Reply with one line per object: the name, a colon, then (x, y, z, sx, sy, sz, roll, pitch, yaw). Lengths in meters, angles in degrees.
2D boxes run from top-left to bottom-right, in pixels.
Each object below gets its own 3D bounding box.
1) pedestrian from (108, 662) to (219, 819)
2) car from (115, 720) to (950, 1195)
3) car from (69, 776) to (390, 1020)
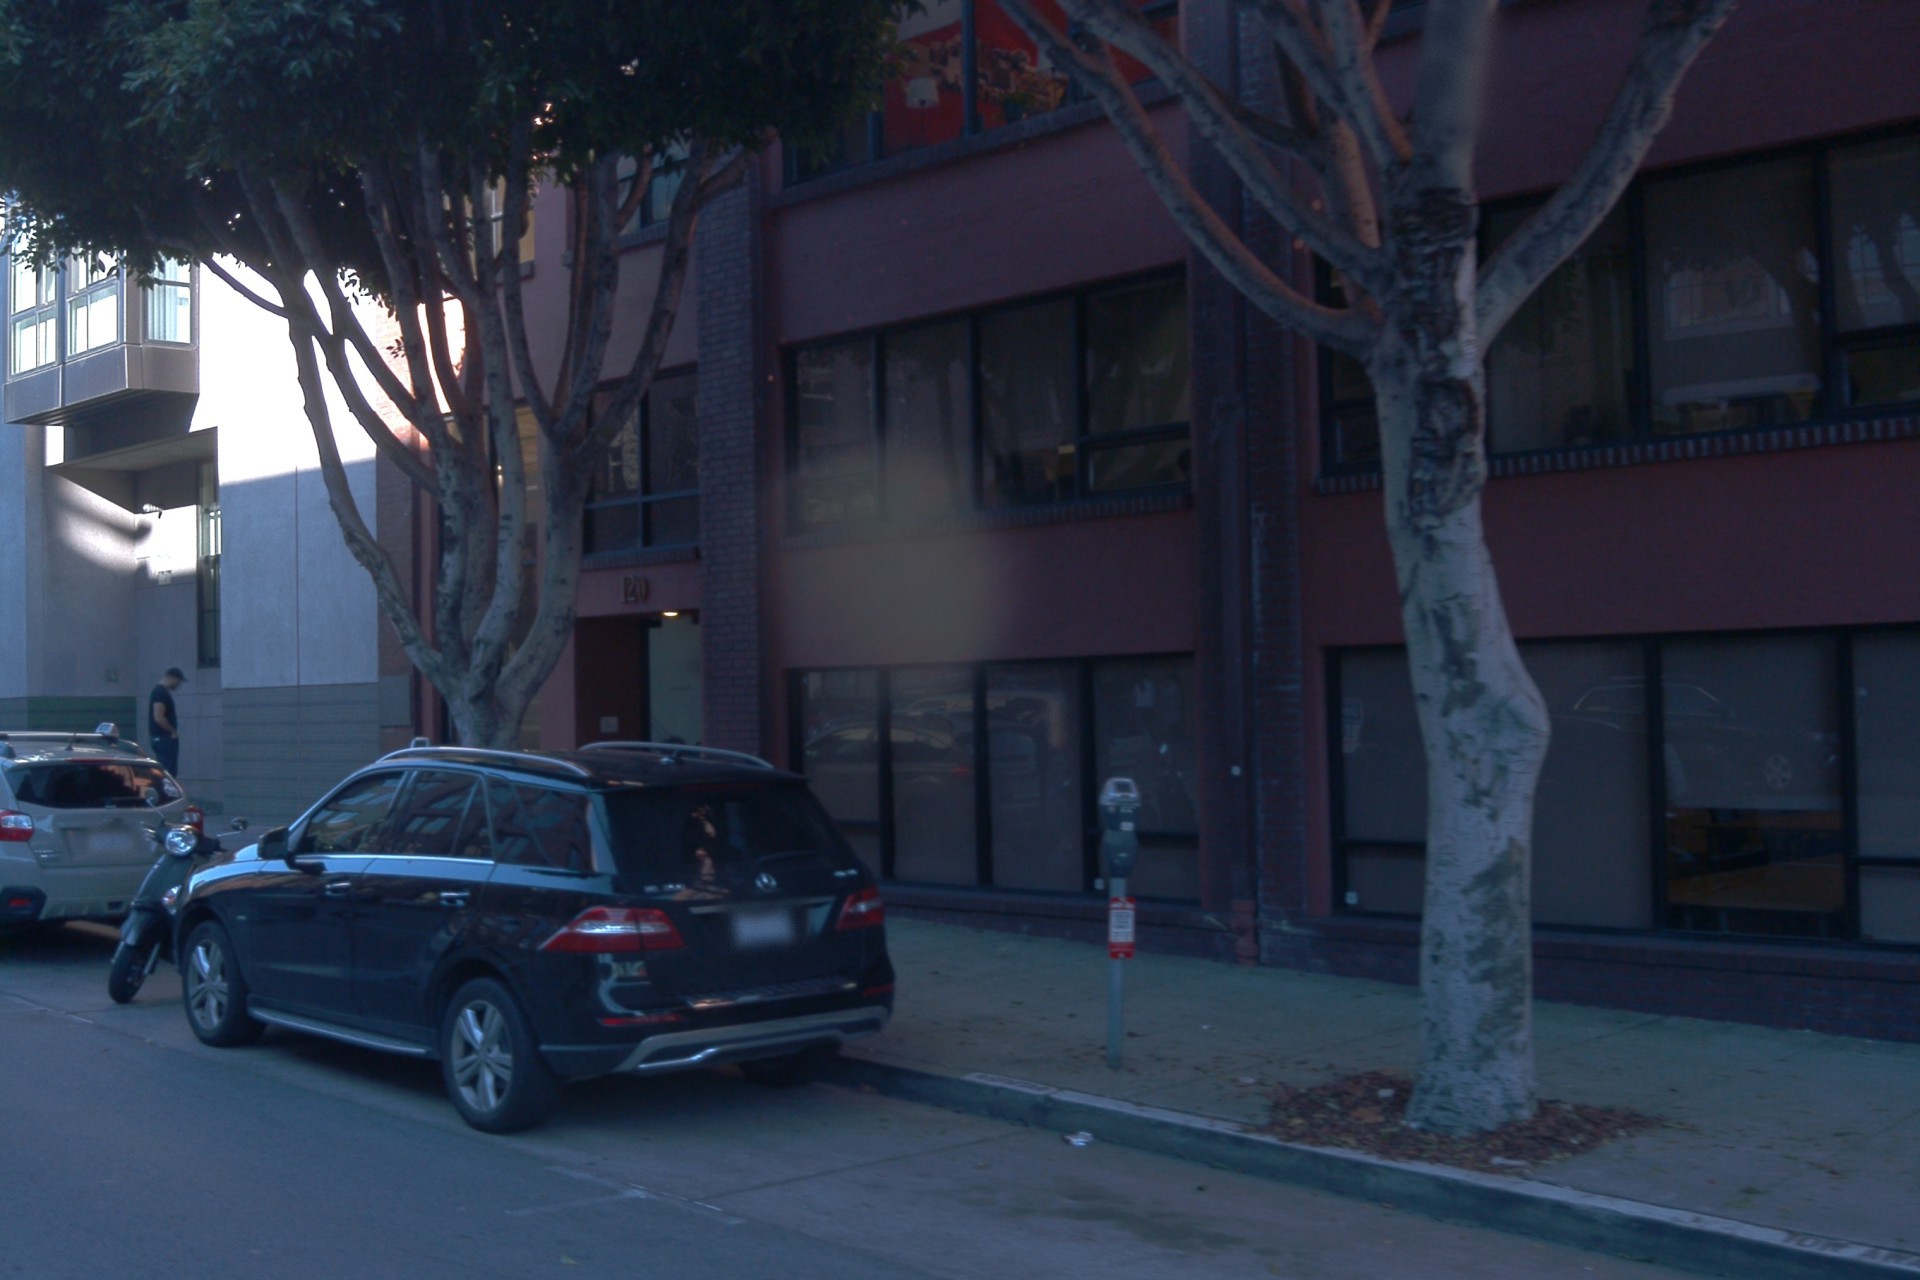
pedestrian: (-9.644, 1.205, 25.297, 1.015, 1.860, 1.062, 0, 0, -5)
car: (-2.548, 1.449, 11.409, 2.125, 1.860, 4.965, 1, 0, -44)
car: (-4.829, 1.663, 13.894, 0.719, 1.410, 1.914, 0, 0, 40)
